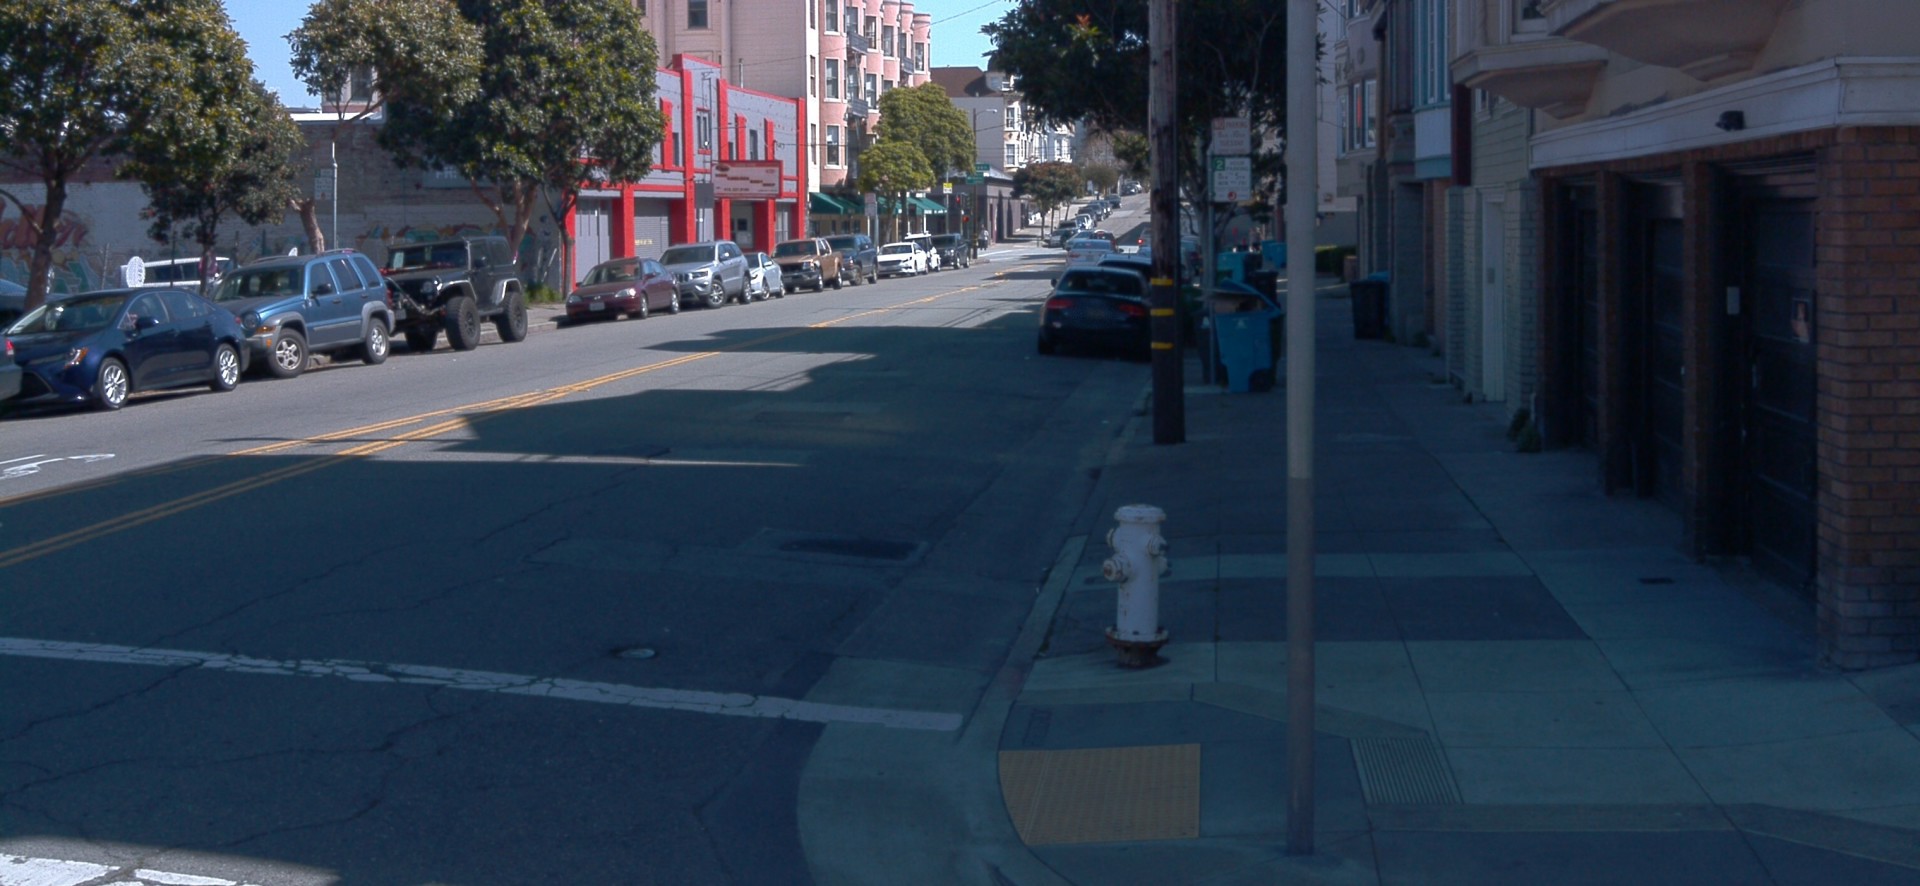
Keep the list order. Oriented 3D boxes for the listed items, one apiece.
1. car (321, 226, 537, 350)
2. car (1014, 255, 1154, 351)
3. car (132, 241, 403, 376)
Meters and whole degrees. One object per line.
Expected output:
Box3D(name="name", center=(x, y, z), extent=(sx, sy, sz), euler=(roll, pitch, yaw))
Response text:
Box3D(name="car", center=(-9.100, -2.746, 35.774), extent=(2.078, 2.003, 4.403), euler=(0, 5, 9))
Box3D(name="car", center=(2.086, -2.326, 33.526), extent=(1.932, 1.414, 4.480), euler=(0, 5, 8))
Box3D(name="car", center=(-10.092, -2.059, 30.460), extent=(2.011, 1.834, 4.244), euler=(1, 5, 10))
